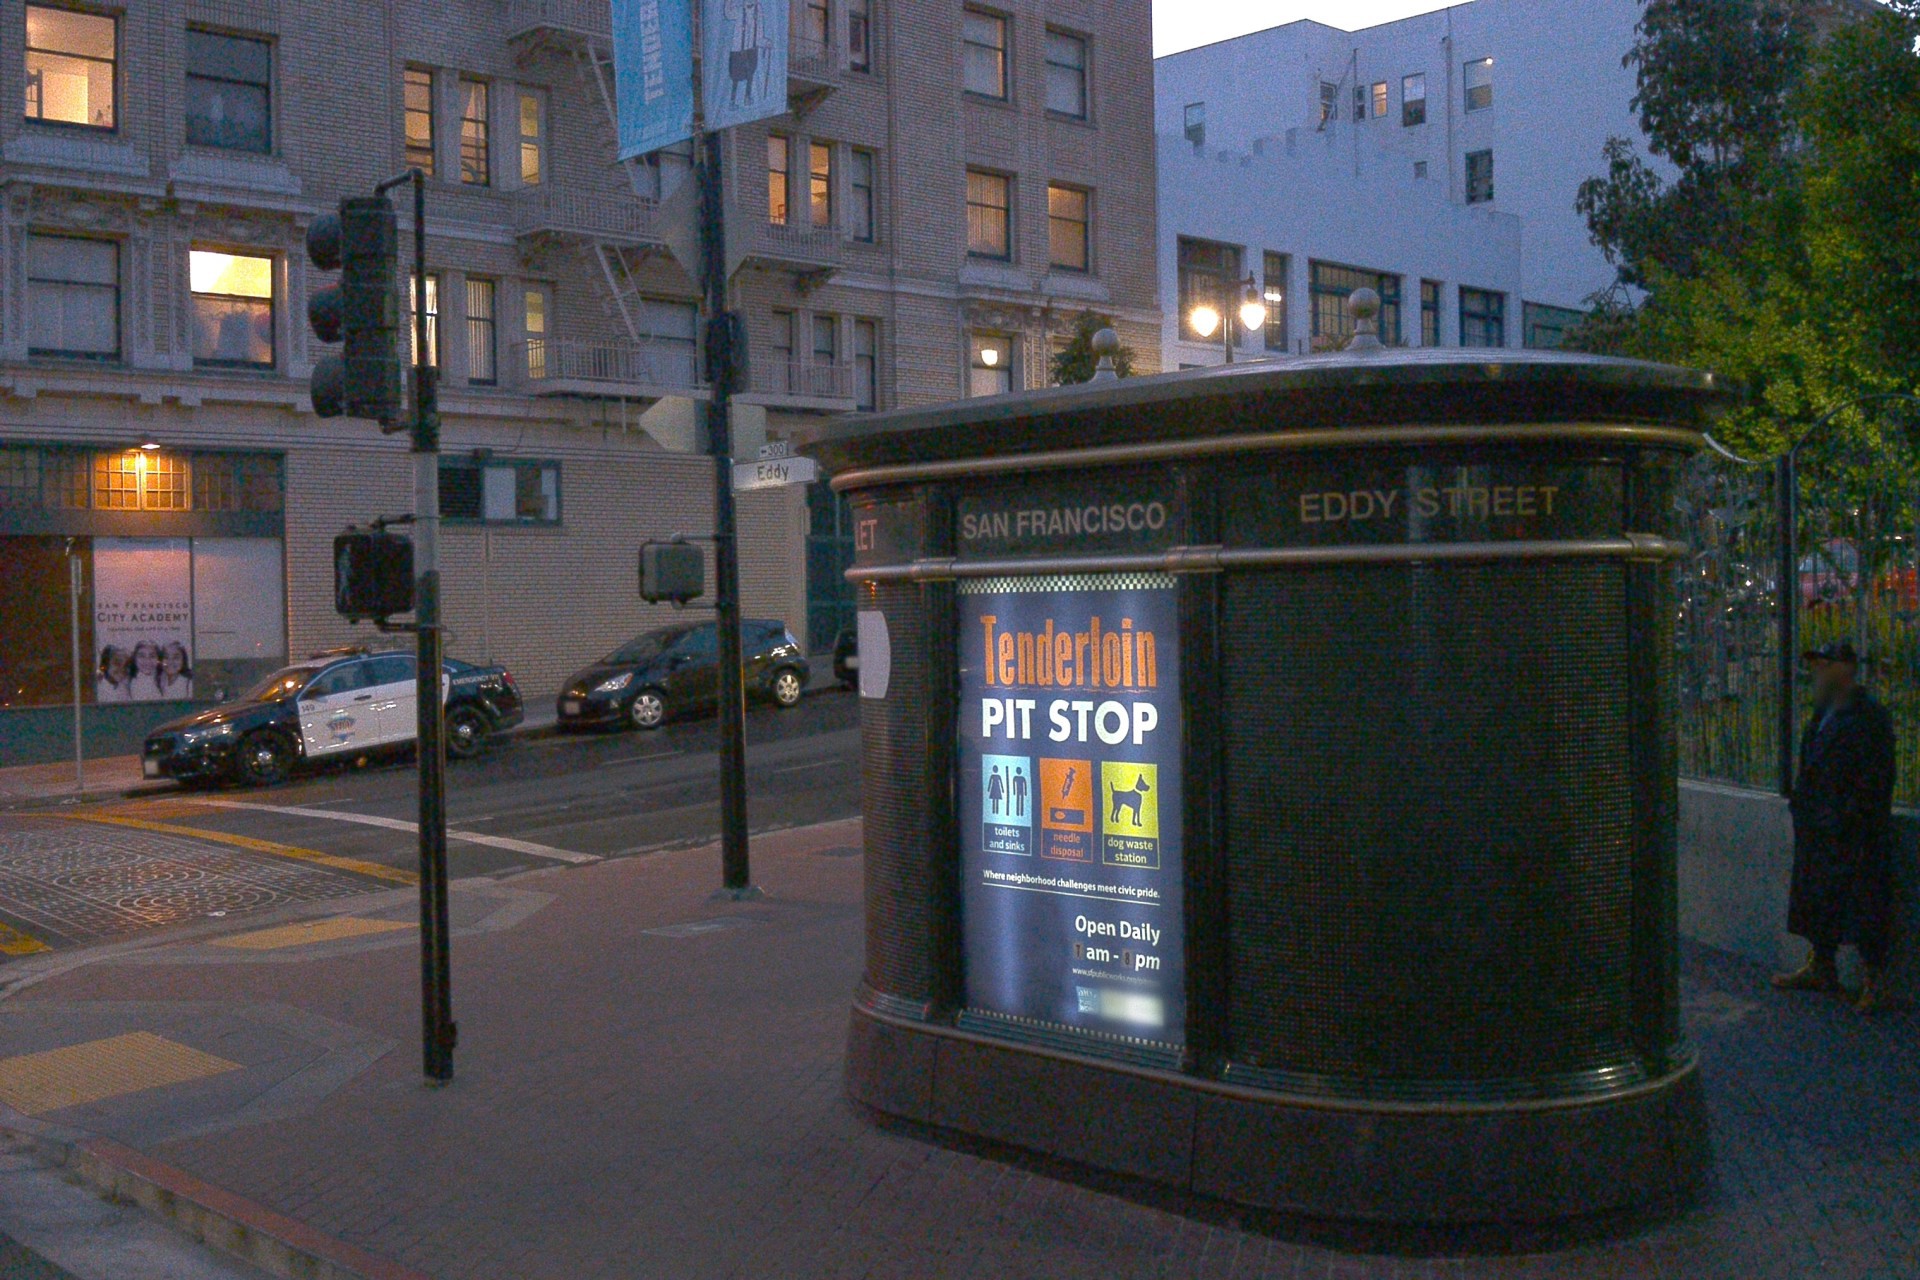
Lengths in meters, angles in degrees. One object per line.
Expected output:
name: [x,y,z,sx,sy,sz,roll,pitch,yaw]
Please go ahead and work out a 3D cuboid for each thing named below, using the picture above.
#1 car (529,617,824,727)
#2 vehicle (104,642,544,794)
car: [-4.200,0.432,30.938,3.987,1.540,1.958,-1,1,-44]
vehicle: [-8.186,0.923,26.963,2.095,1.750,5.105,1,1,44]
